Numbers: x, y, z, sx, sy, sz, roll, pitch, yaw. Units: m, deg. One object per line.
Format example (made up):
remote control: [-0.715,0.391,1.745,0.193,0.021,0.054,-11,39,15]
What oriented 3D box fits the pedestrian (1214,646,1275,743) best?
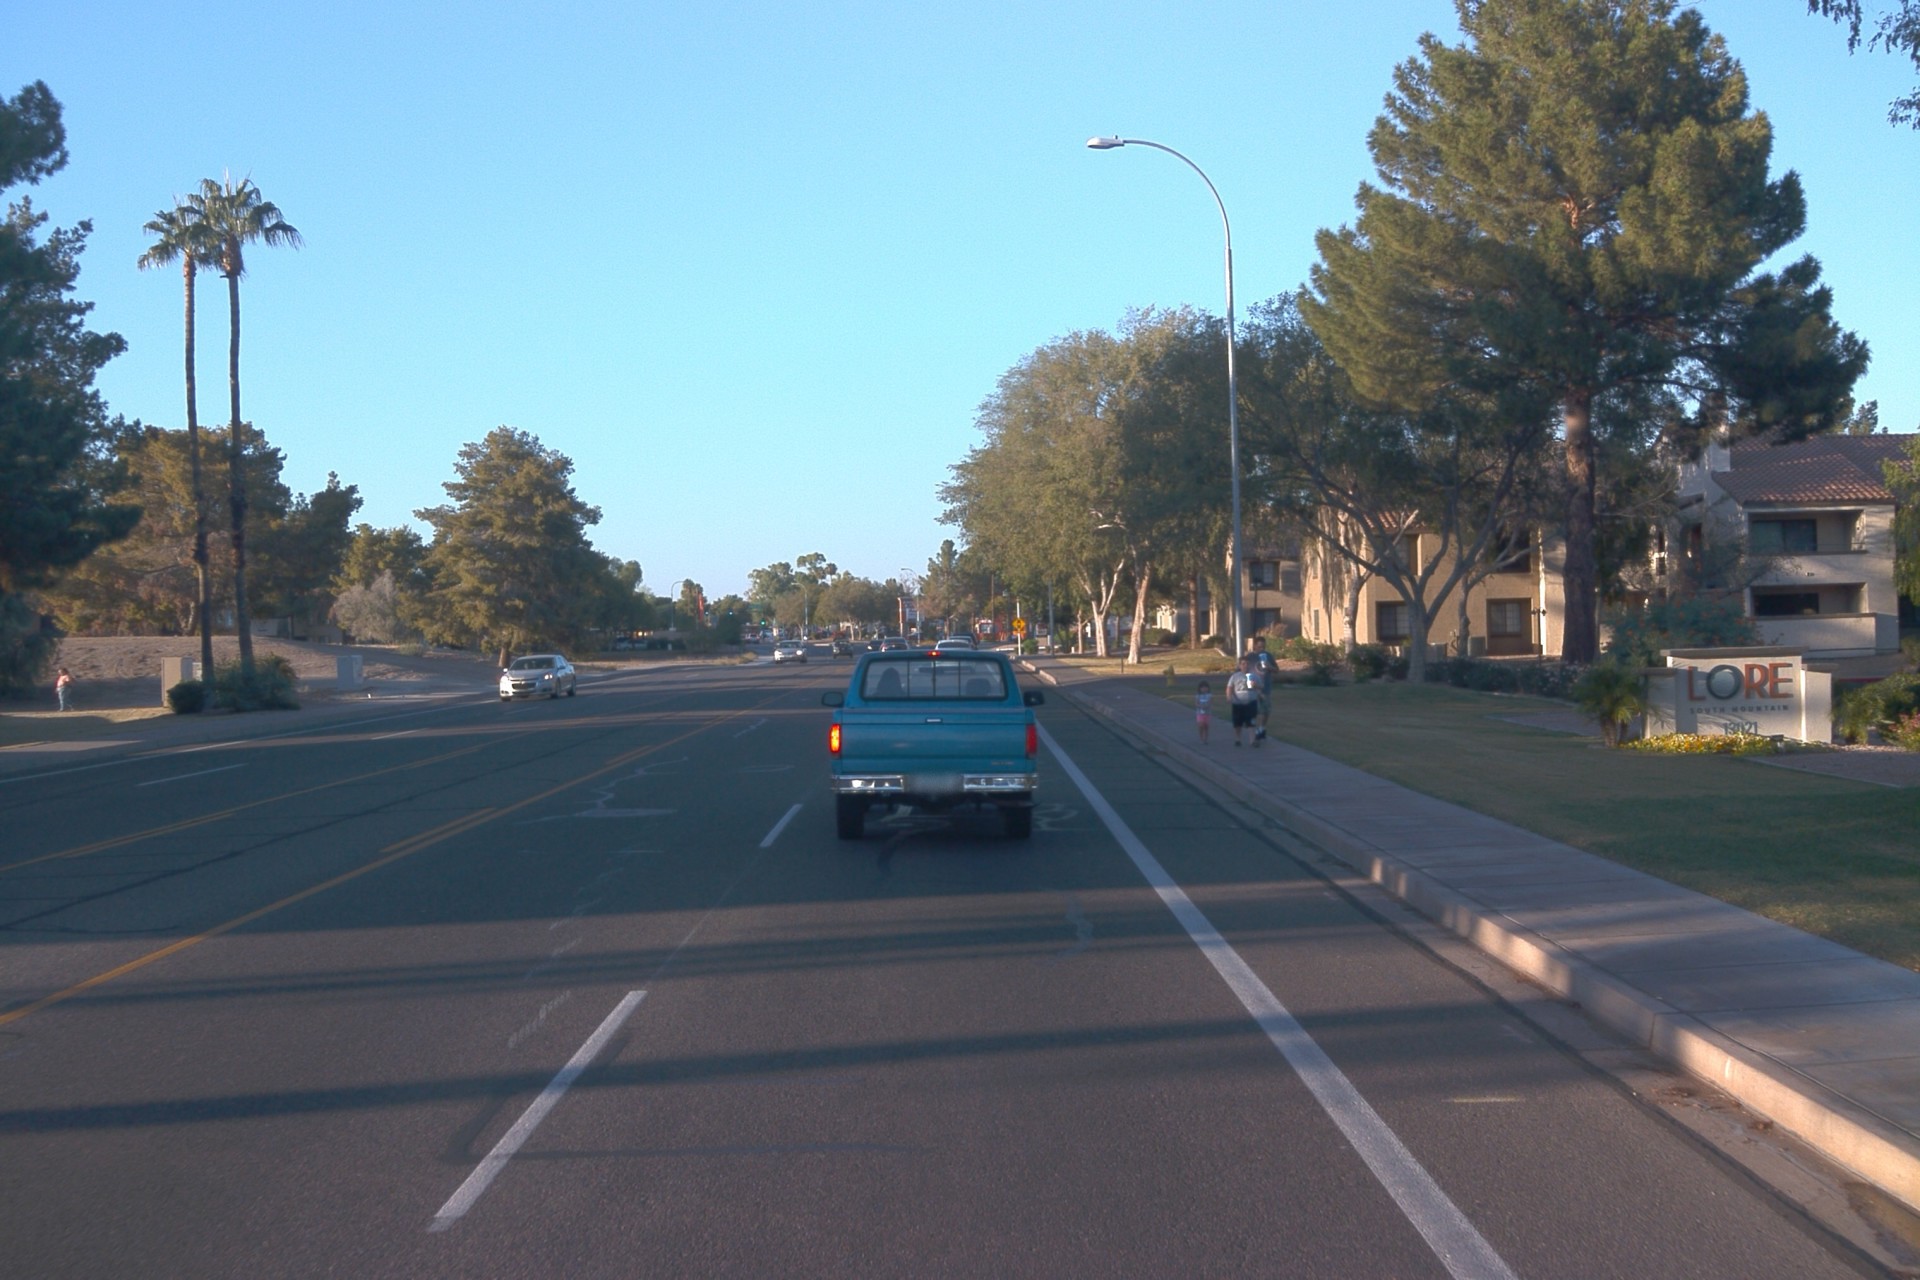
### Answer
pedestrian: [4.328,0.820,31.567,0.750,1.460,0.905,0,0,-3]

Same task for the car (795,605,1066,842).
car: [-0.279,0.769,21.550,2.459,2.150,5.428,0,0,0]

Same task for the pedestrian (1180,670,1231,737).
pedestrian: [3.857,0.994,32.596,0.653,1.040,0.817,0,0,-4]

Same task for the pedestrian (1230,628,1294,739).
pedestrian: [4.738,0.669,32.499,0.841,1.720,0.834,0,0,-2]
